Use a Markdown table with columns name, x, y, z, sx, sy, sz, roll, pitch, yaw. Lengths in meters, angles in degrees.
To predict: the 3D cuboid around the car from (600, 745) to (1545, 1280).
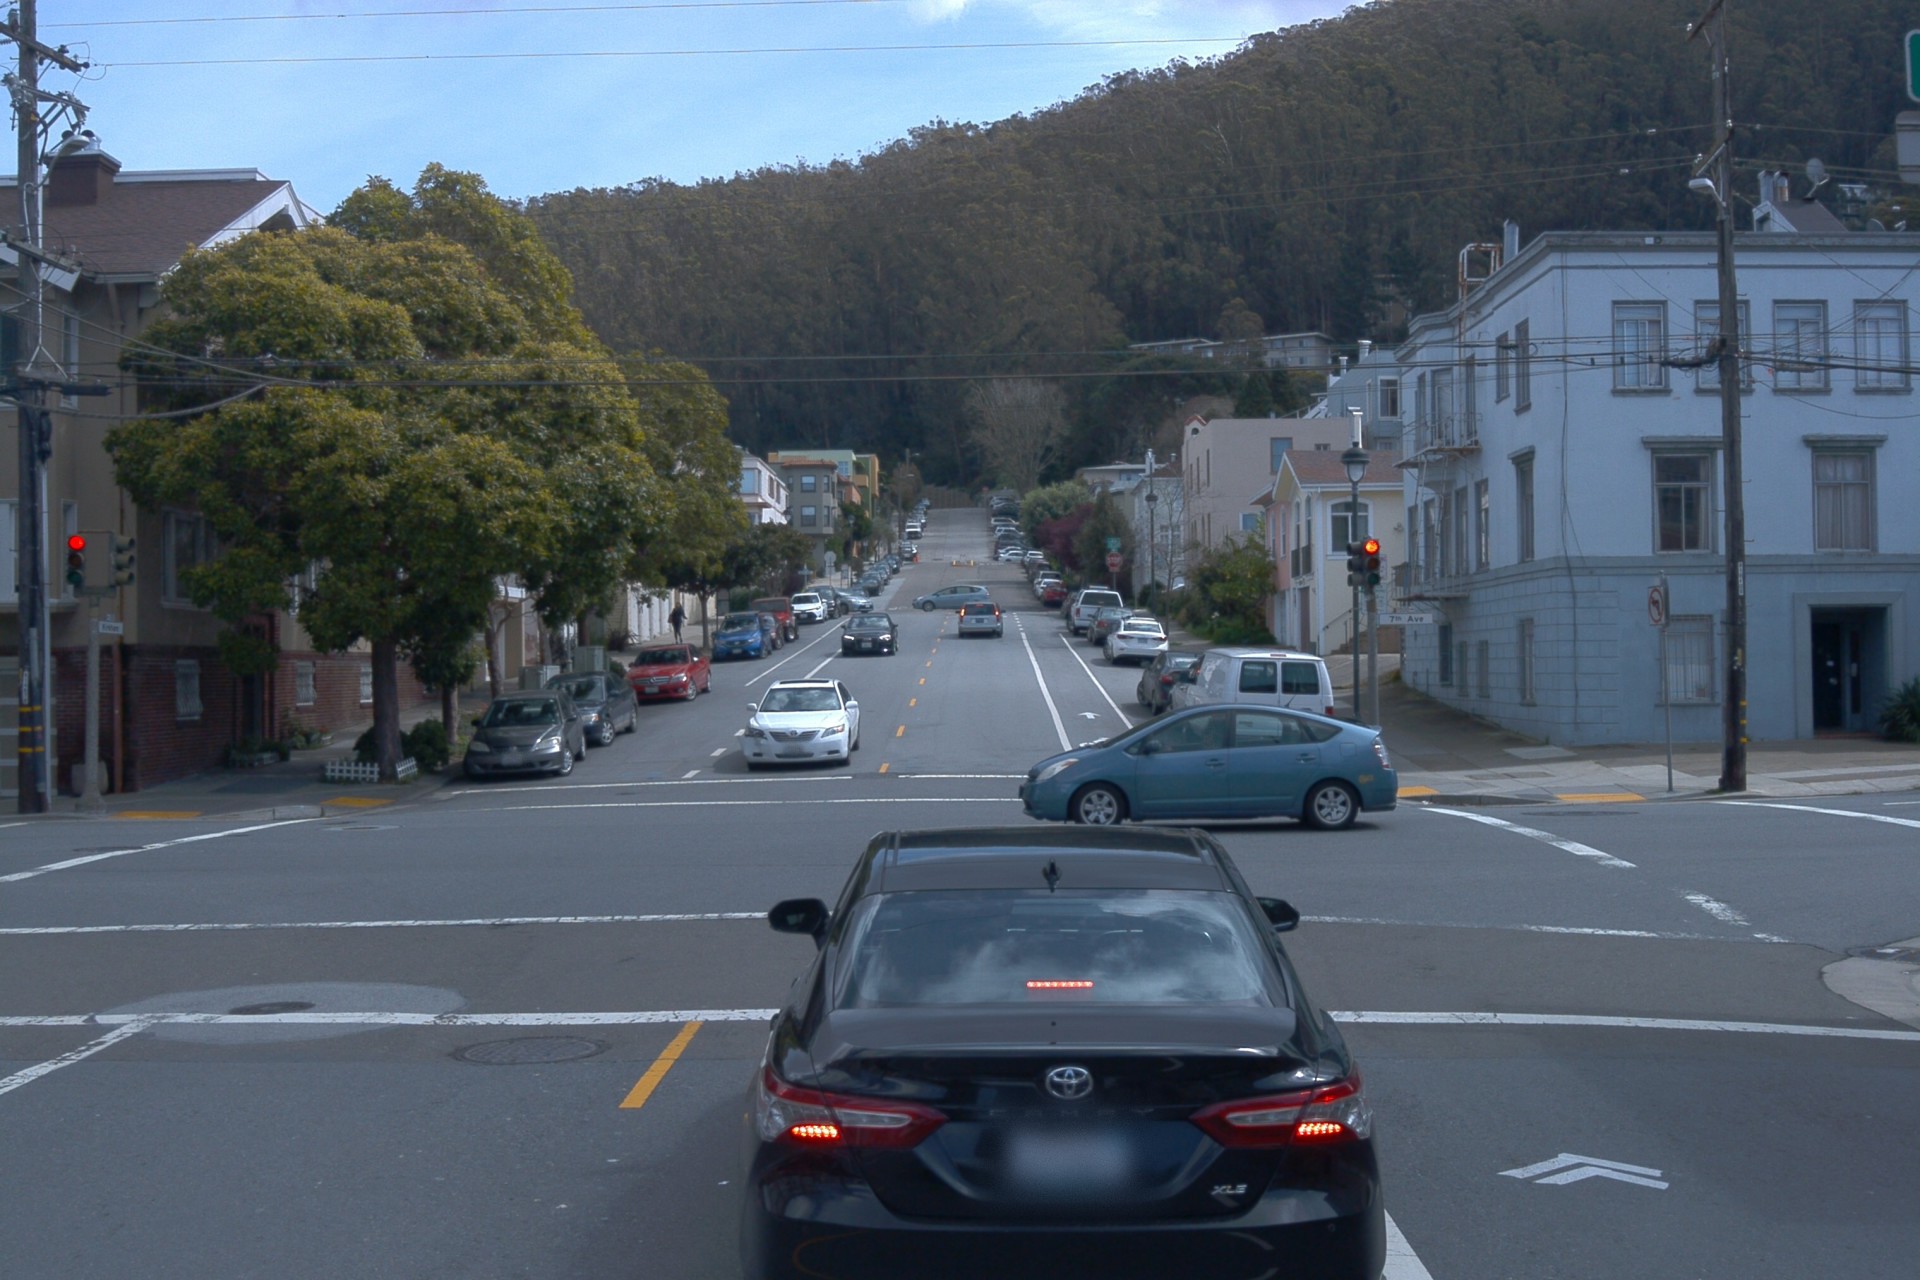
| name | x | y | z | sx | sy | sz | roll | pitch | yaw |
| --- | --- | --- | --- | --- | --- | --- | --- | --- | --- |
| car | 0.282 | 1.304 | 7.305 | 2.249 | 1.620 | 4.798 | 0 | 0 | 0 |

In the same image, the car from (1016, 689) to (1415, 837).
| name | x | y | z | sx | sy | sz | roll | pitch | yaw |
| --- | --- | --- | --- | --- | --- | --- | --- | --- | --- |
| car | 2.889 | 1.400 | 24.031 | 4.413 | 1.600 | 1.991 | 0 | 0 | 0 |

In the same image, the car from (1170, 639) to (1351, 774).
| name | x | y | z | sx | sy | sz | roll | pitch | yaw |
| --- | --- | --- | --- | --- | --- | --- | --- | --- | --- |
| car | 5.314 | 1.116 | 37.228 | 2.299 | 2.250 | 5.313 | 0 | 0 | -2 |

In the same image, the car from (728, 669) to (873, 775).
| name | x | y | z | sx | sy | sz | roll | pitch | yaw |
| --- | --- | --- | --- | --- | --- | --- | --- | --- | --- |
| car | -2.840 | 1.445 | 37.710 | 2.209 | 1.750 | 4.541 | 0 | 0 | 1 |

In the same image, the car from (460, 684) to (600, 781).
| name | x | y | z | sx | sy | sz | roll | pitch | yaw |
| --- | --- | --- | --- | --- | --- | --- | --- | --- | --- |
| car | -7.707 | 1.620 | 37.253 | 1.836 | 1.560 | 4.133 | 0 | 0 | -3 |
